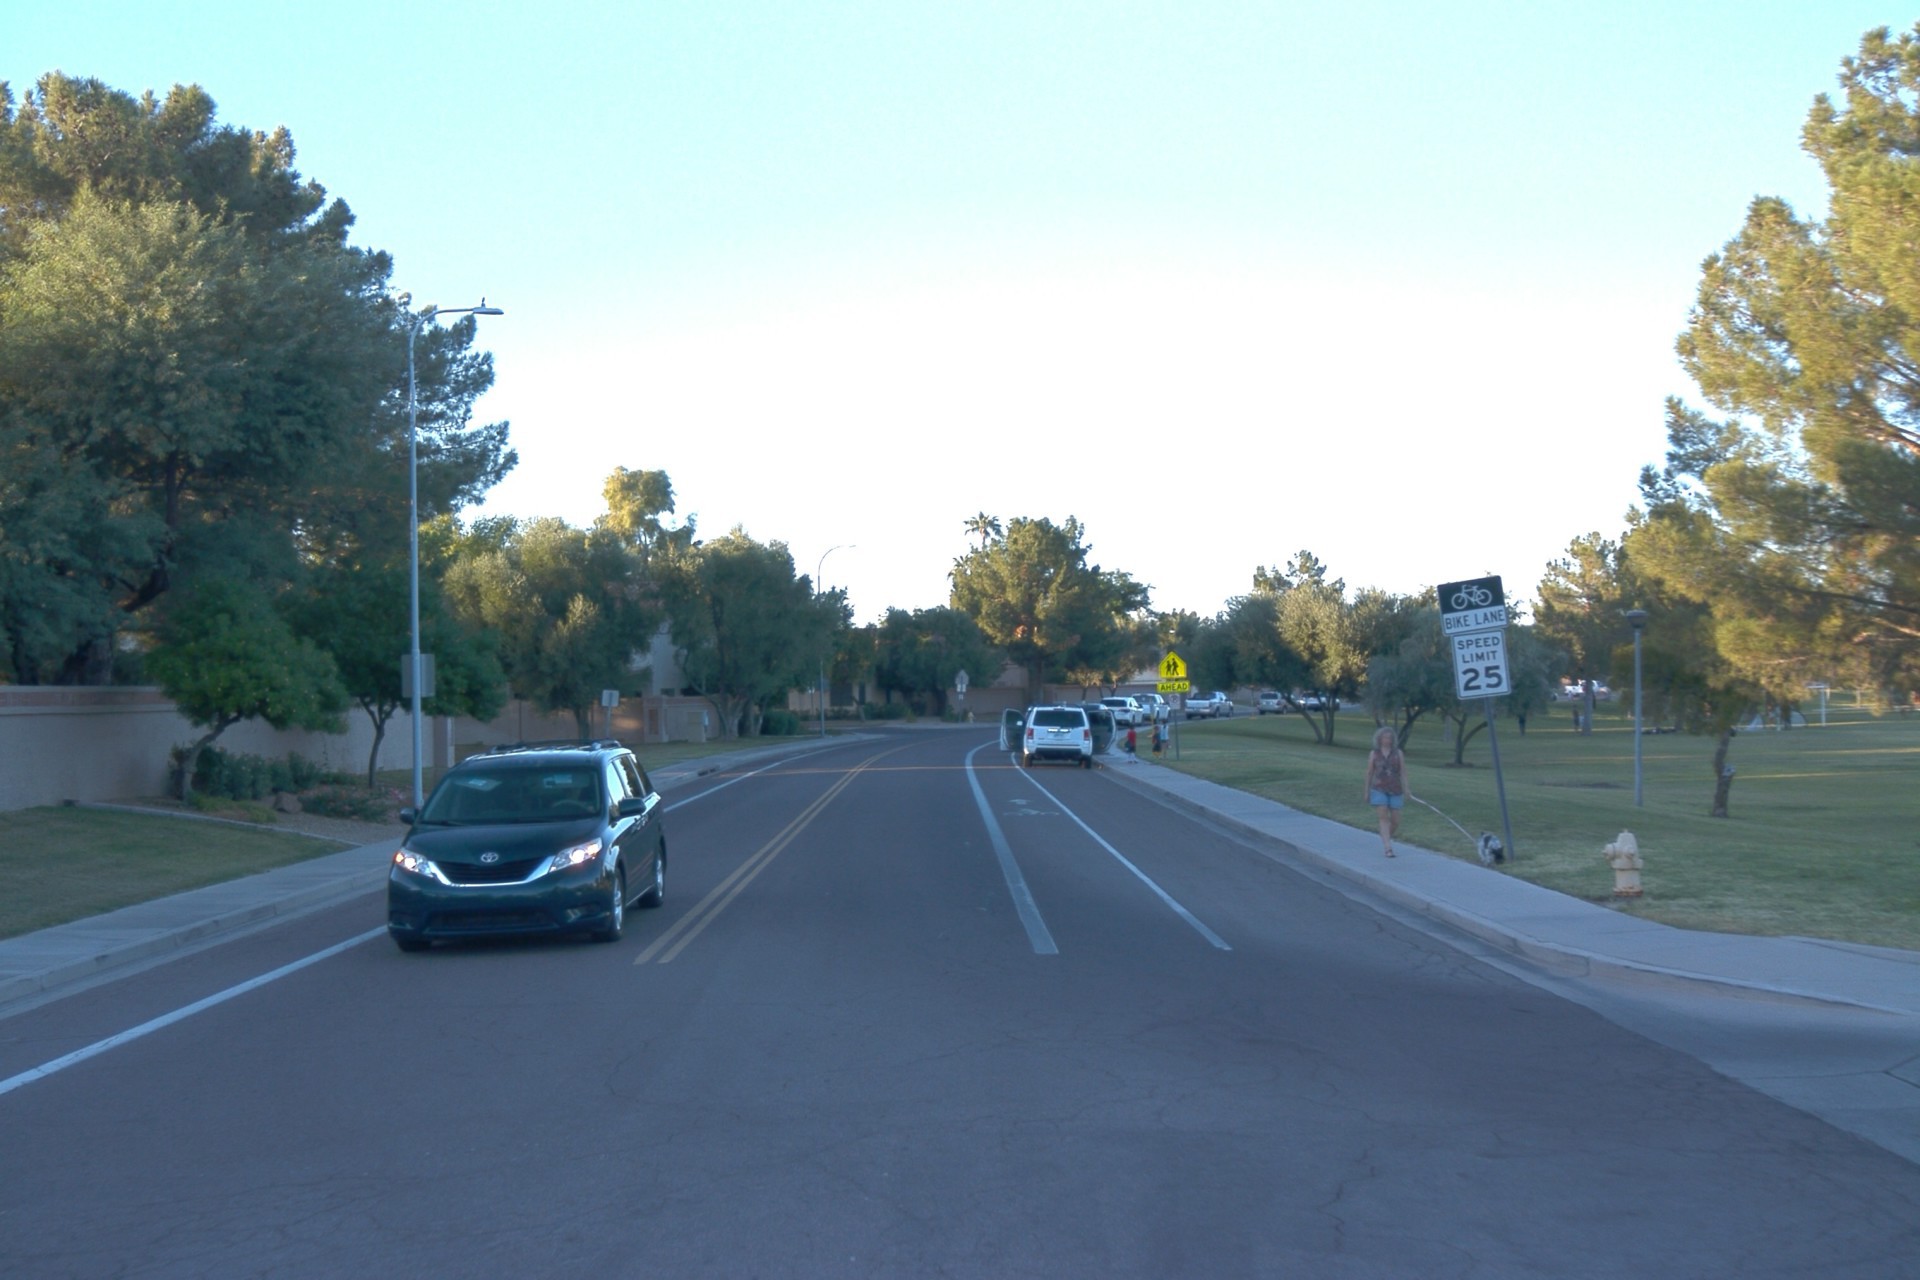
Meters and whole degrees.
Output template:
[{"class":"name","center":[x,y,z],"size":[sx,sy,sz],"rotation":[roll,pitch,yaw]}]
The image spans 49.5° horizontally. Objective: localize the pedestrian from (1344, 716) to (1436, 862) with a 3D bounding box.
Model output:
[{"class":"pedestrian","center":[5.280,1.817,25.604],"size":[0.986,1.750,0.878],"rotation":[0,-1,4]}]

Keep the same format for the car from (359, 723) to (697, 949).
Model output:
[{"class":"car","center":[-4.042,1.789,20.433],"size":[2.293,1.840,4.995],"rotation":[0,-1,0]}]
